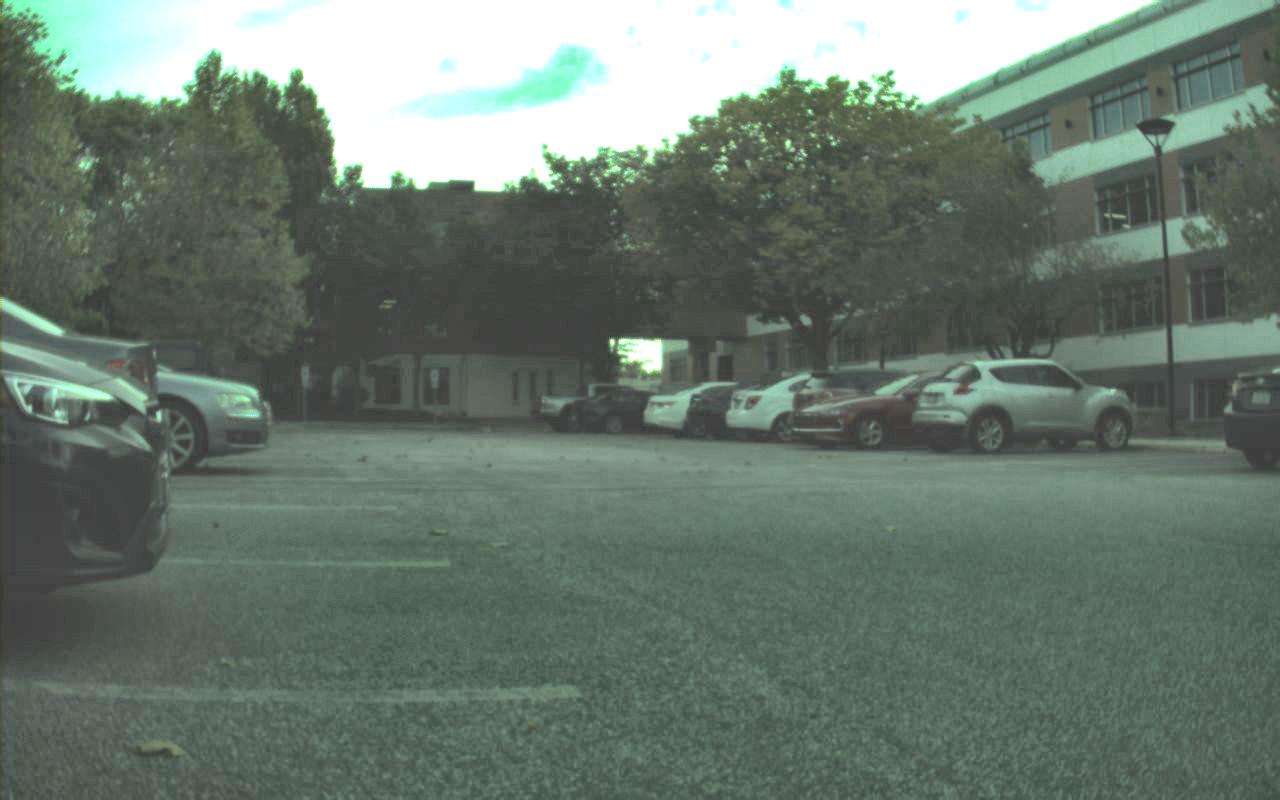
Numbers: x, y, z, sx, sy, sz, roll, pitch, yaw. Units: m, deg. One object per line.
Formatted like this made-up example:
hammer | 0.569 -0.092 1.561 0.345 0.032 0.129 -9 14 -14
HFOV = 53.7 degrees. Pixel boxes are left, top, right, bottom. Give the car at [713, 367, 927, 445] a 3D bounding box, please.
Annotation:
car | 3.974 0.103 27.764 4.395 1.622 1.914 0 1 -11

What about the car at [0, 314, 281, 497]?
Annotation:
car | -5.739 0.045 11.140 4.650 1.637 1.993 0 1 -18

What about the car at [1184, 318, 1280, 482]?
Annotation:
car | 8.616 0.013 12.859 4.568 1.658 1.975 0 1 -17

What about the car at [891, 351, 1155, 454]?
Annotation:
car | 6.422 0.028 20.244 4.193 1.572 1.860 0 1 -14

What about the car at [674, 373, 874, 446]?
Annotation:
car | 3.214 0.190 30.291 4.426 1.655 1.947 0 1 -16

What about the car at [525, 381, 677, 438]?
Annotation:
car | -1.411 0.319 44.893 5.019 1.917 2.094 0 1 -18

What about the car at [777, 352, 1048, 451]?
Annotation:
car | 5.014 0.007 22.694 4.669 1.665 1.984 0 1 -15

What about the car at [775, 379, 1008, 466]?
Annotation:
car | 5.156 0.421 25.439 4.414 1.628 1.946 0 1 -15

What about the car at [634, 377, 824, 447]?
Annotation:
car | 2.277 0.284 32.692 4.591 1.730 2.002 0 1 -11

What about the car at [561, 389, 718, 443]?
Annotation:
car | -0.011 0.459 40.049 4.599 1.601 1.956 0 1 -25
